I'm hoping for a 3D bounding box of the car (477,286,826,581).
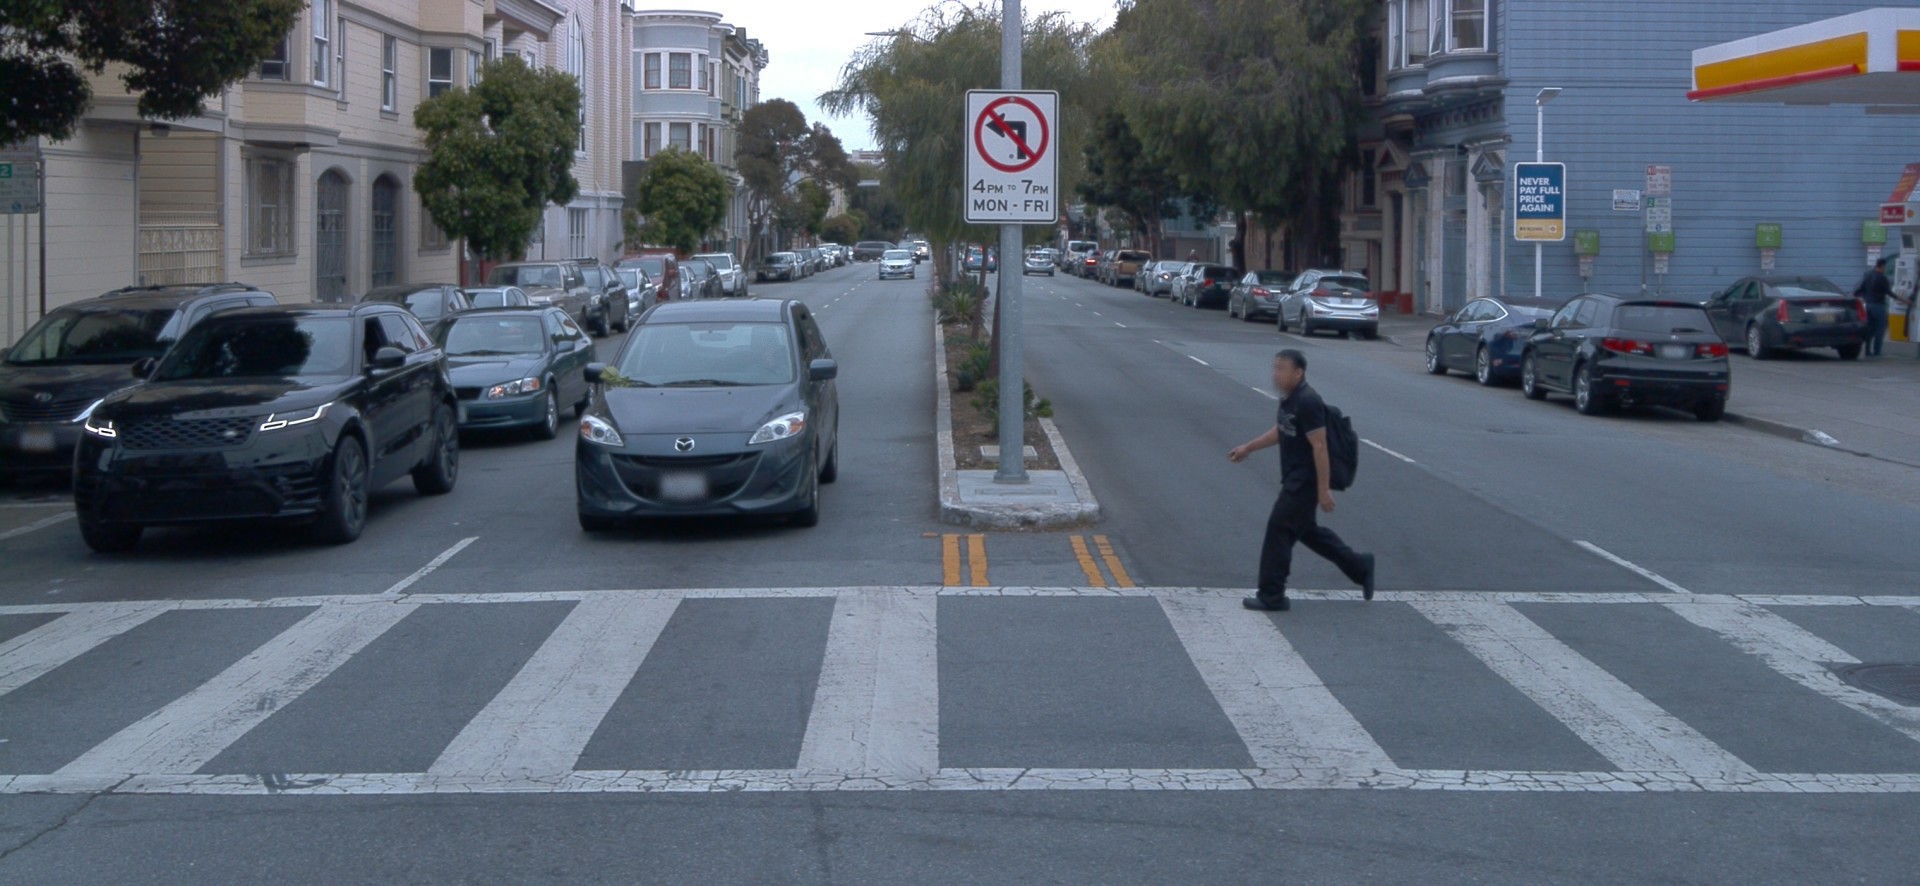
[{"bbox_3d":[-2.230,-0.244,16.269,2.058,1.779,4.739,0,6,0],"label":"car"}]

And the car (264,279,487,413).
[{"bbox_3d":[-8.923,-1.569,31.899,2.127,1.741,4.524,0,6,0],"label":"car"}]

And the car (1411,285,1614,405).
[{"bbox_3d":[8.818,-1.652,33.307,1.911,1.611,4.489,-1,6,-3],"label":"car"}]

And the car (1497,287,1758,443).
[{"bbox_3d":[8.933,-1.138,28.033,2.148,1.756,4.308,0,6,0],"label":"car"}]

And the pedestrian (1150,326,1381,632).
[{"bbox_3d":[1.715,0.169,11.695,1.128,1.607,0.841,-1,2,-5],"label":"pedestrian"}]

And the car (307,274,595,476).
[{"bbox_3d":[-5.580,-0.888,23.296,2.015,1.860,4.866,0,6,0],"label":"car"}]
